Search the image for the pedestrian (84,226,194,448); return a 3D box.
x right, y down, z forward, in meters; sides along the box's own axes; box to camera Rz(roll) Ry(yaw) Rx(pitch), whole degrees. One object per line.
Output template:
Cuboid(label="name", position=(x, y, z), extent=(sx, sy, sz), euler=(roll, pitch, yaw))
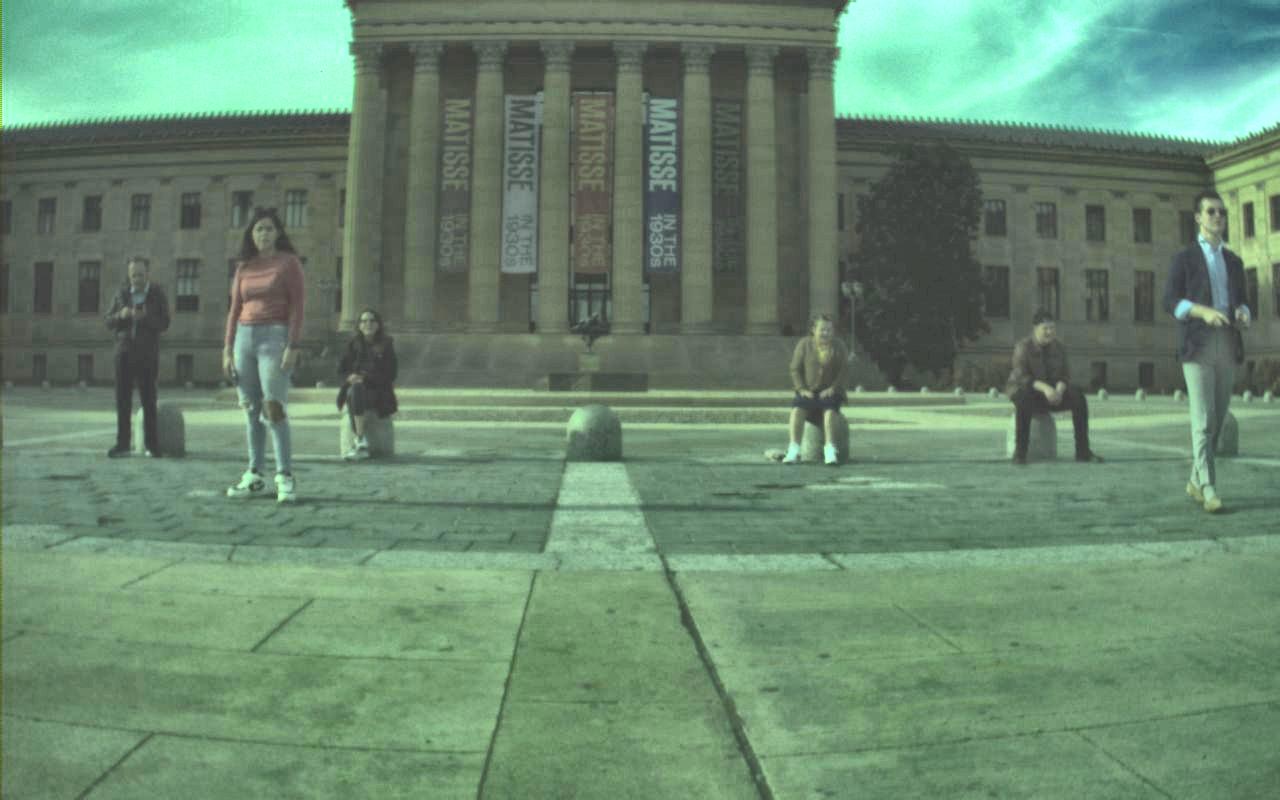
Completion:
Cuboid(label="pedestrian", position=(-4.146, -0.497, 9.686), extent=(0.819, 1.756, 0.856), euler=(0, 0, -14))

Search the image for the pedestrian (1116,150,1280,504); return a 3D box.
Cuboid(label="pedestrian", position=(3.093, -0.369, 6.323), extent=(0.785, 1.809, 0.818), euler=(0, 0, 1))

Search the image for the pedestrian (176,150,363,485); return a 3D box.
Cuboid(label="pedestrian", position=(-2.041, -0.432, 6.669), extent=(0.764, 1.716, 0.785), euler=(0, 0, 12))

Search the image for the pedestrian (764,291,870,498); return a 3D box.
Cuboid(label="pedestrian", position=(1.447, -0.047, 10.365), extent=(0.799, 1.646, 0.813), euler=(0, 0, 3))

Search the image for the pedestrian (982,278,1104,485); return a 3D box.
Cuboid(label="pedestrian", position=(3.423, -0.145, 10.331), extent=(0.819, 1.682, 0.840), euler=(0, 0, -2))

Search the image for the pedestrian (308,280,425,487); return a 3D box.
Cuboid(label="pedestrian", position=(-2.246, -0.138, 10.187), extent=(0.822, 1.633, 0.849), euler=(0, 0, -1))
